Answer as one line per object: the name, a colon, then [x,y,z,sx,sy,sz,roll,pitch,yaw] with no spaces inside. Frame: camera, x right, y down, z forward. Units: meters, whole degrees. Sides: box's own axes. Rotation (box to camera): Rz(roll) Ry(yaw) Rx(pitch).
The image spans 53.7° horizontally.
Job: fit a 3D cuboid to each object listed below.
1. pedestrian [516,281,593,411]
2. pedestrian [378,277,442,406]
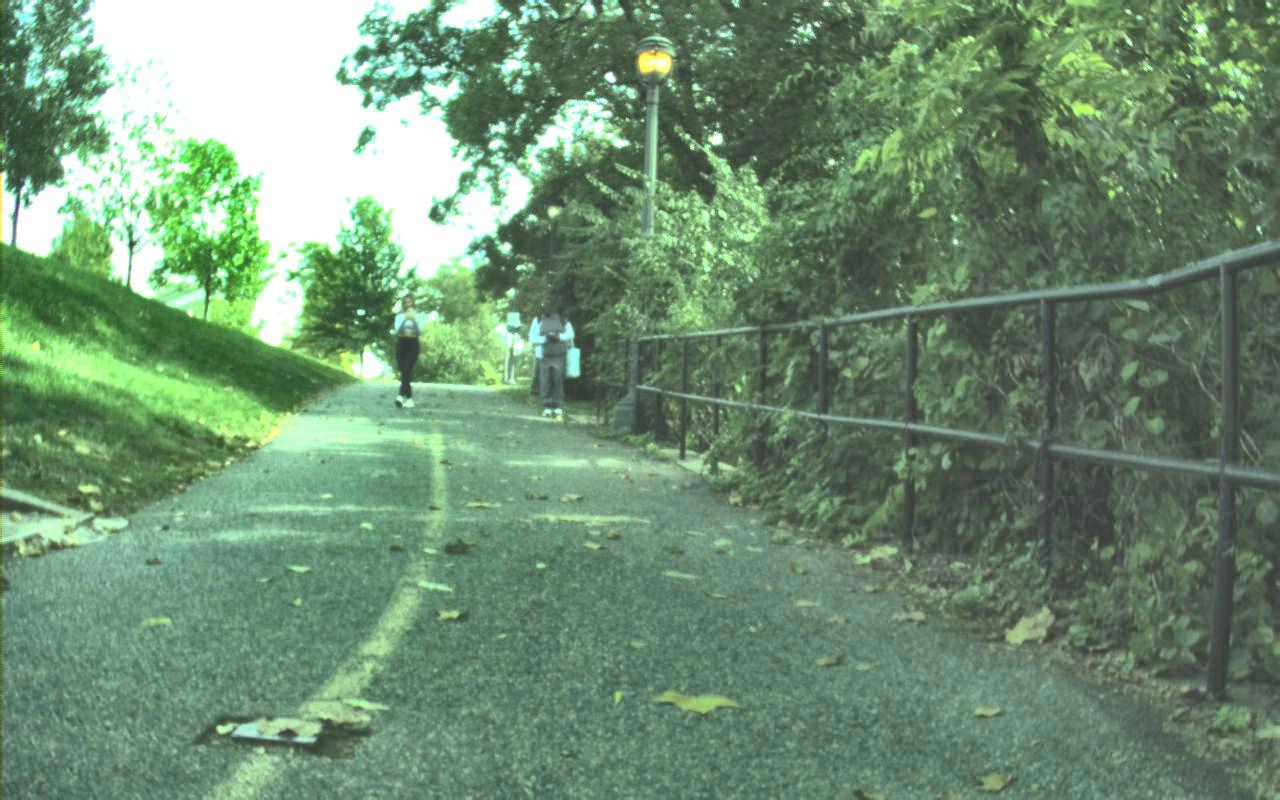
pedestrian: [-1.198,-0.750,17.755,0.814,1.777,0.818,1,0,20]
pedestrian: [-3.207,-0.799,17.274,0.795,1.746,0.820,0,0,-18]
